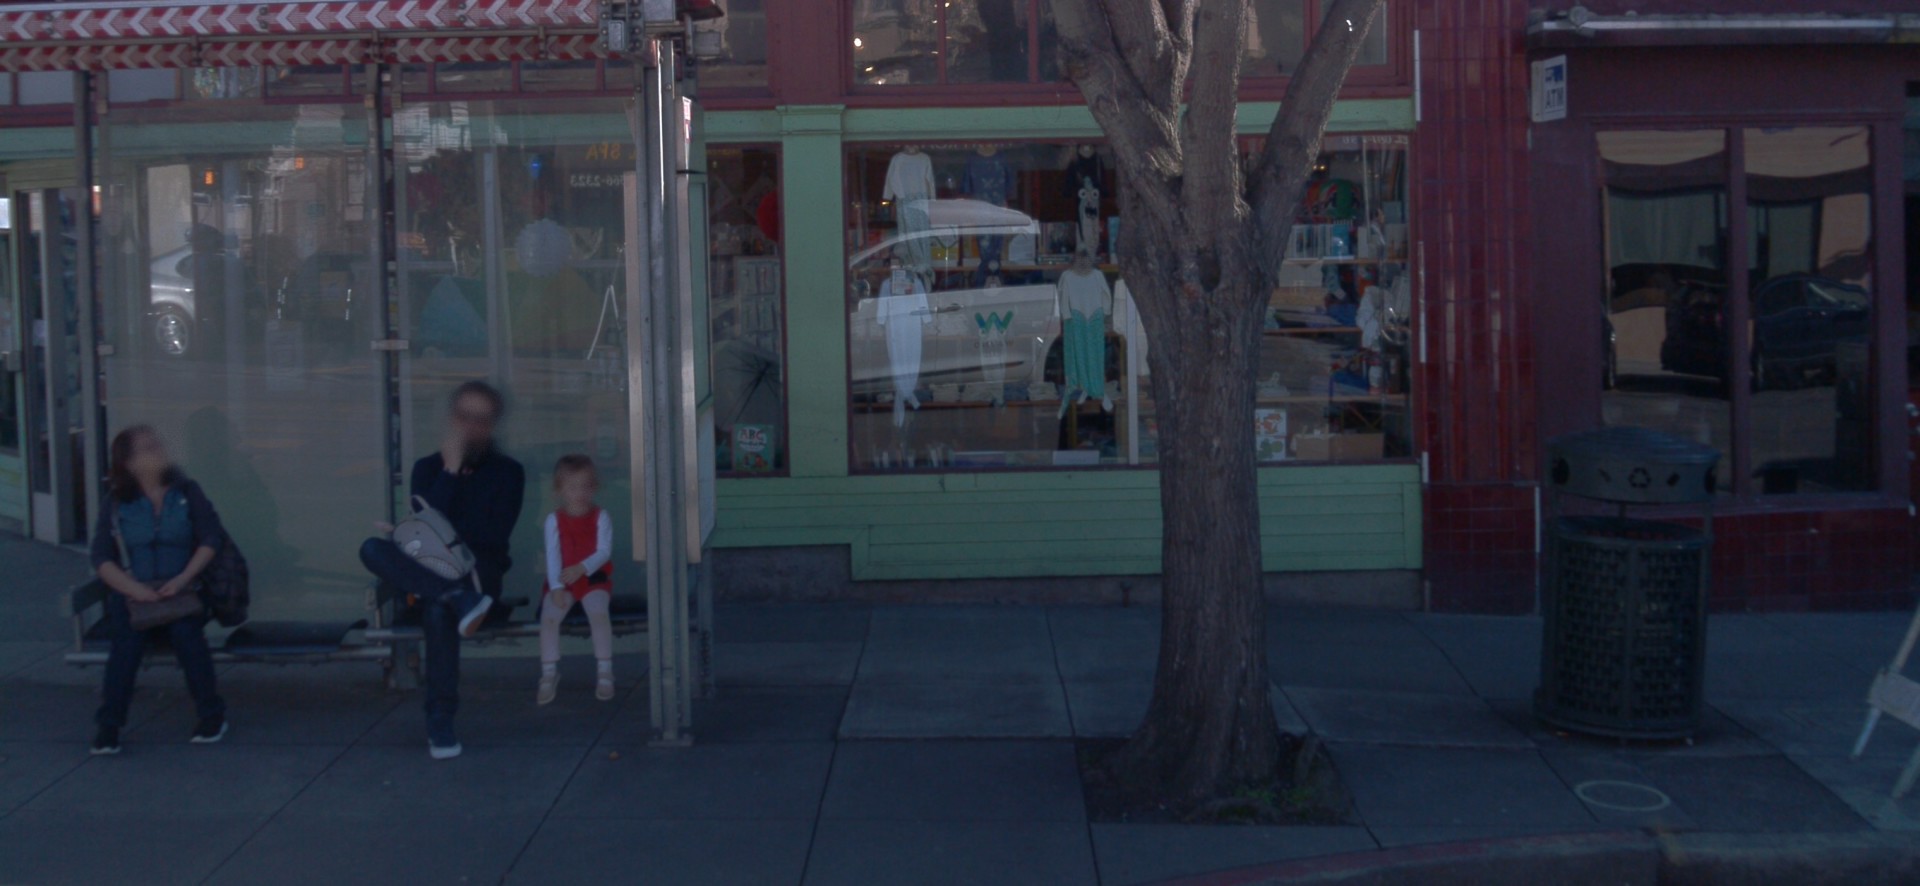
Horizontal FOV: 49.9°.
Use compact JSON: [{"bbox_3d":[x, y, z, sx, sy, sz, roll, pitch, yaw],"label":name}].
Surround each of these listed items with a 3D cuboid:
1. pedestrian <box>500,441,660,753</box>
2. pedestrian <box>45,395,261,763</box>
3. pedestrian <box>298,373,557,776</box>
[{"bbox_3d":[-1.463,0.577,8.024,0.528,1.098,0.572,0,2,-3],"label":"pedestrian"},{"bbox_3d":[-3.127,0.487,8.060,0.737,1.258,0.794,-1,2,-19],"label":"pedestrian"},{"bbox_3d":[-2.033,0.465,7.999,0.753,1.398,0.926,0,2,0],"label":"pedestrian"}]
